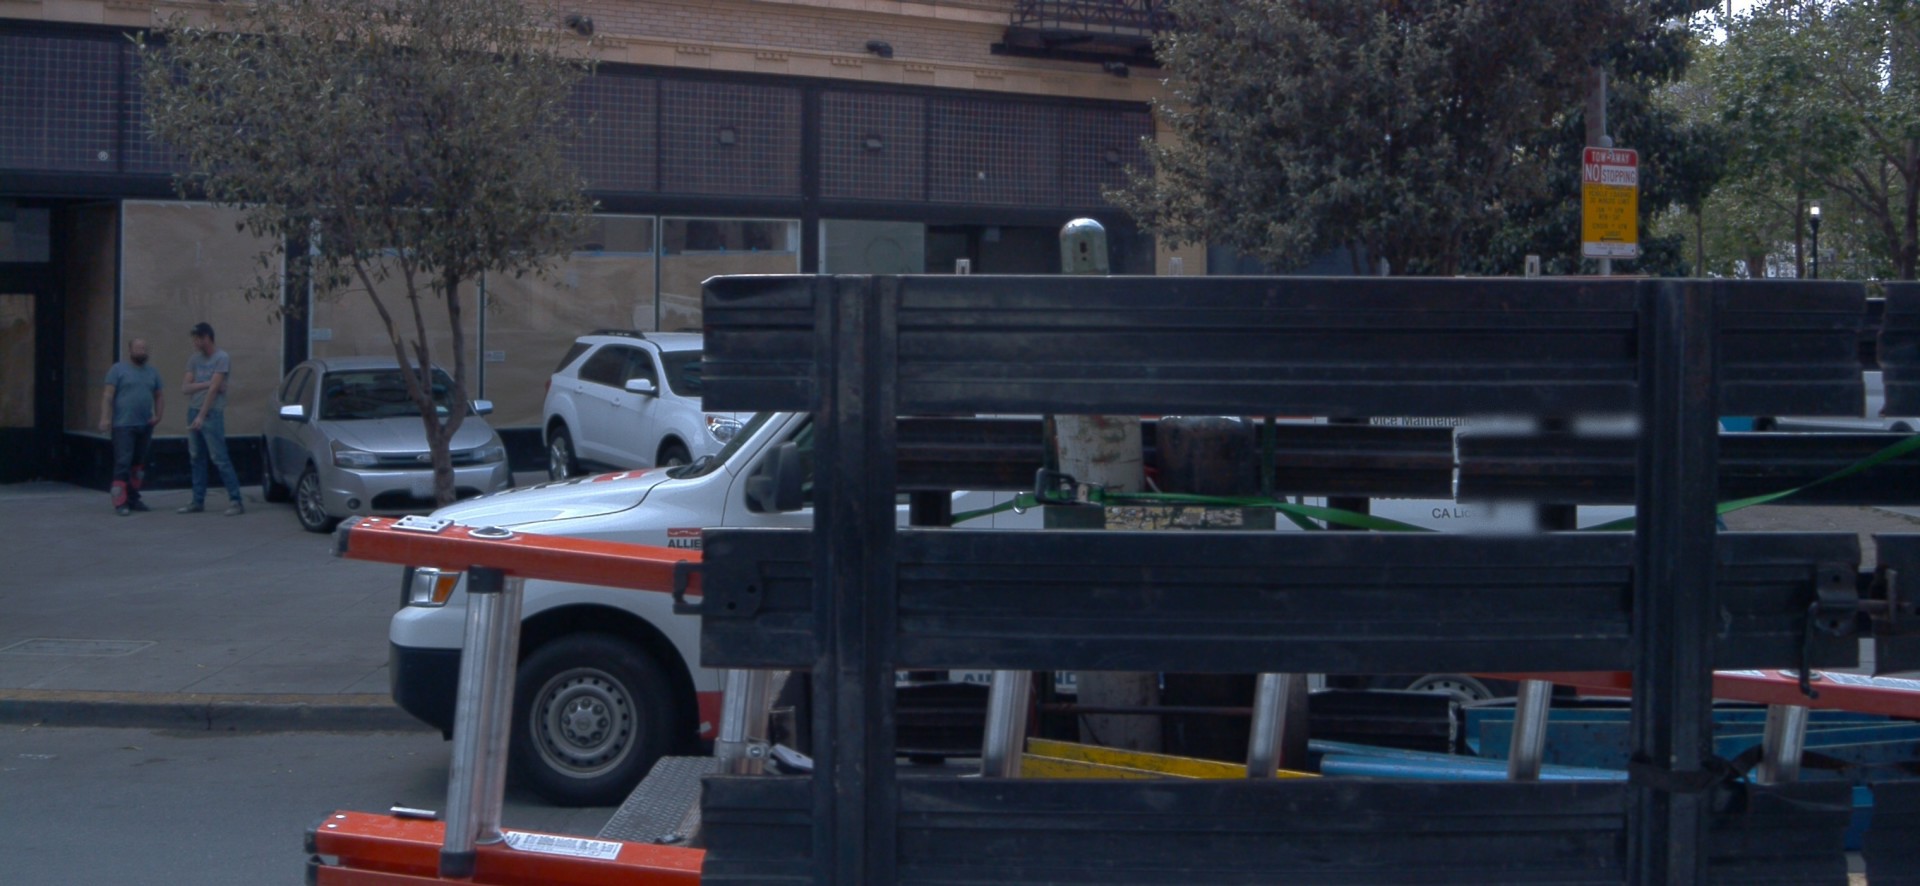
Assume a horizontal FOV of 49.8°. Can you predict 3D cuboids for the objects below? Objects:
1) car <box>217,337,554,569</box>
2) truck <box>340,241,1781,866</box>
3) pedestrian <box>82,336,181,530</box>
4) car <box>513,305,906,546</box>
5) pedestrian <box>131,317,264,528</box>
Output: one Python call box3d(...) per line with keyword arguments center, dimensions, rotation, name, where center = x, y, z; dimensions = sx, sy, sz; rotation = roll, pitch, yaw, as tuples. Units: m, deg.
box3d(center=(-5.638, -0.039, 19.865), dimensions=(2.036, 1.642, 4.475), rotation=(-3, 6, -30), name="car")
box3d(center=(0.432, 0.354, 9.849), dimensions=(5.978, 2.532, 2.486), rotation=(0, 4, 2), name="truck")
box3d(center=(-7.915, -0.116, 19.744), dimensions=(0.681, 1.746, 0.656), rotation=(-2, 2, -41), name="pedestrian")
box3d(center=(-2.640, -0.317, 20.727), dimensions=(2.064, 1.901, 4.593), rotation=(-3, 6, -33), name="car")
box3d(center=(-7.243, -0.213, 19.653), dimensions=(0.902, 1.916, 0.733), rotation=(0, 2, 13), name="pedestrian")
